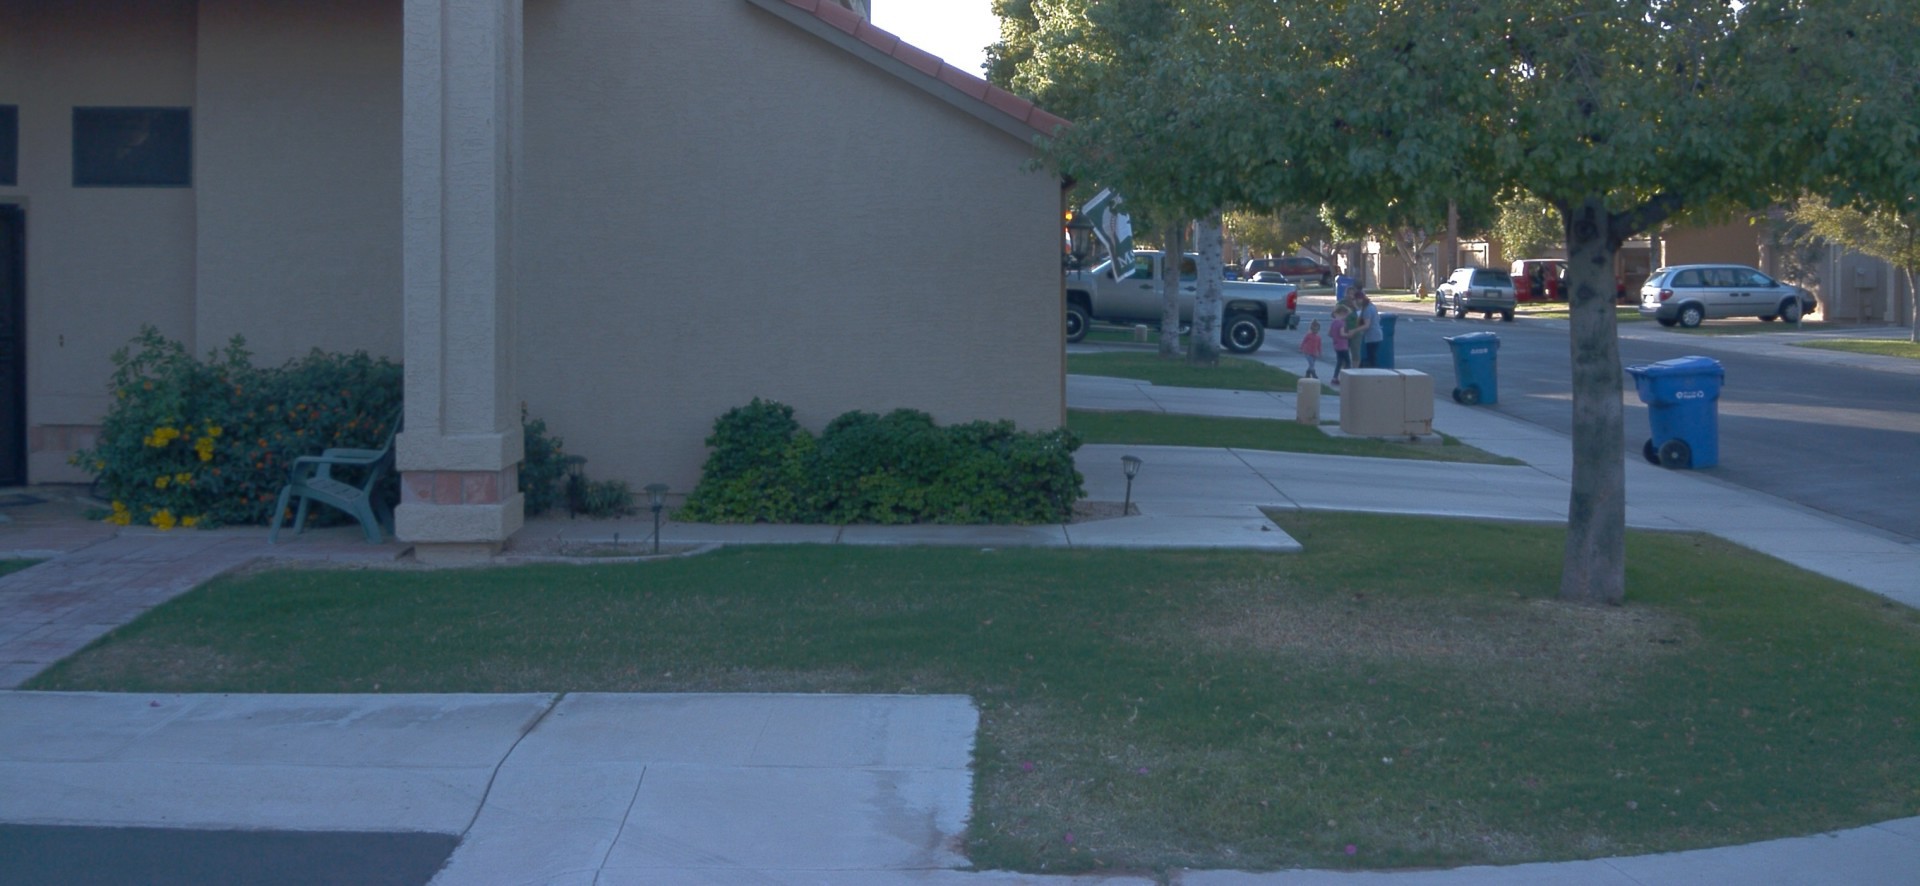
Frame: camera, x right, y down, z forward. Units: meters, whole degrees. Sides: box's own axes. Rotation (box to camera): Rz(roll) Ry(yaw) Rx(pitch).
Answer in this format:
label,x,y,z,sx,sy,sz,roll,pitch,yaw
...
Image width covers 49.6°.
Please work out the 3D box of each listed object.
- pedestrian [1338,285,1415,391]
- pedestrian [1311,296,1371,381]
label,x,y,z,sx,sy,sz,roll,pitch,yaw
pedestrian,6.623,-1.685,32.985,0.947,1.617,0.756,-2,3,-38
pedestrian,6.025,-1.661,32.800,0.662,1.277,0.694,2,3,40
